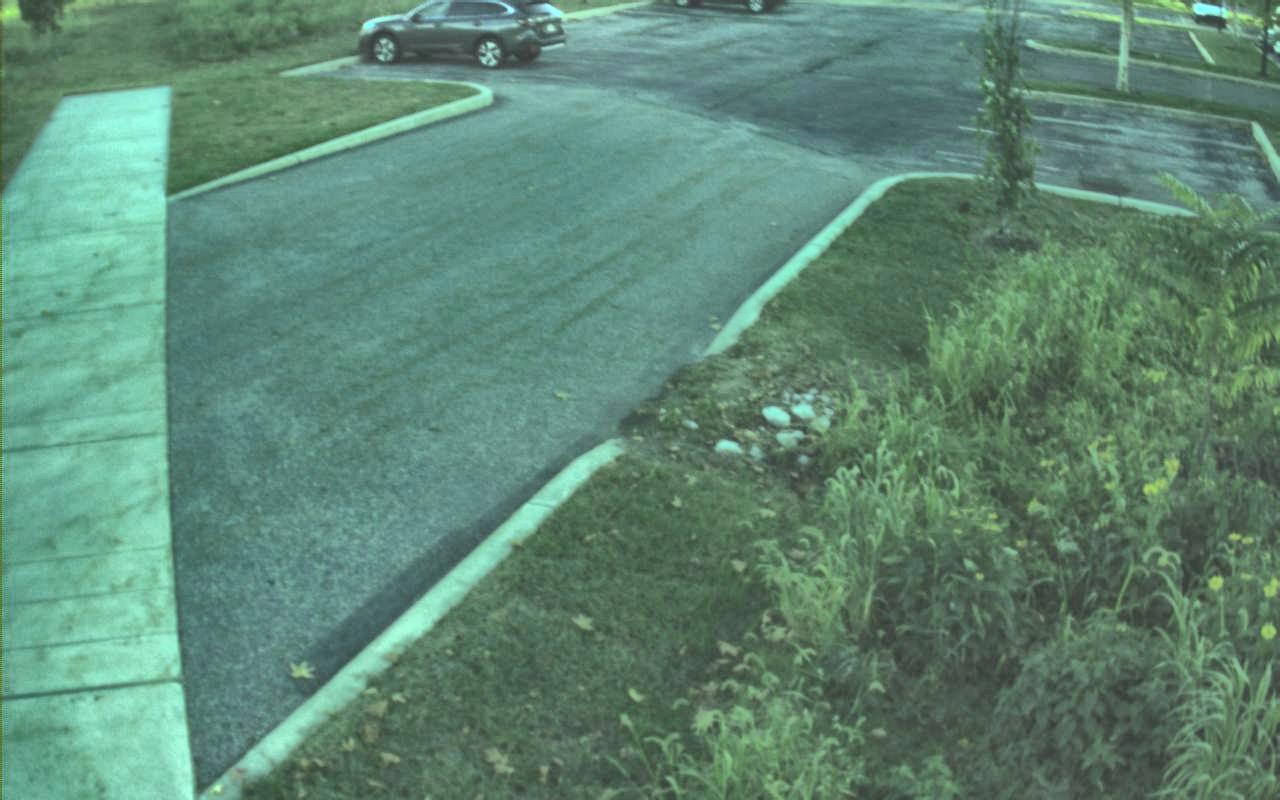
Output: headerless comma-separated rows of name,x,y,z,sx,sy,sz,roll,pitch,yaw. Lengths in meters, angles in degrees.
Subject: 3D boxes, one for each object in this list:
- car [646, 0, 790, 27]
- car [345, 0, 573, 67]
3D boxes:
car,2.758,-13.885,42.826,4.700,1.652,2.015,4,16,17
car,-4.089,-8.346,27.026,4.761,1.669,2.030,6,17,23
